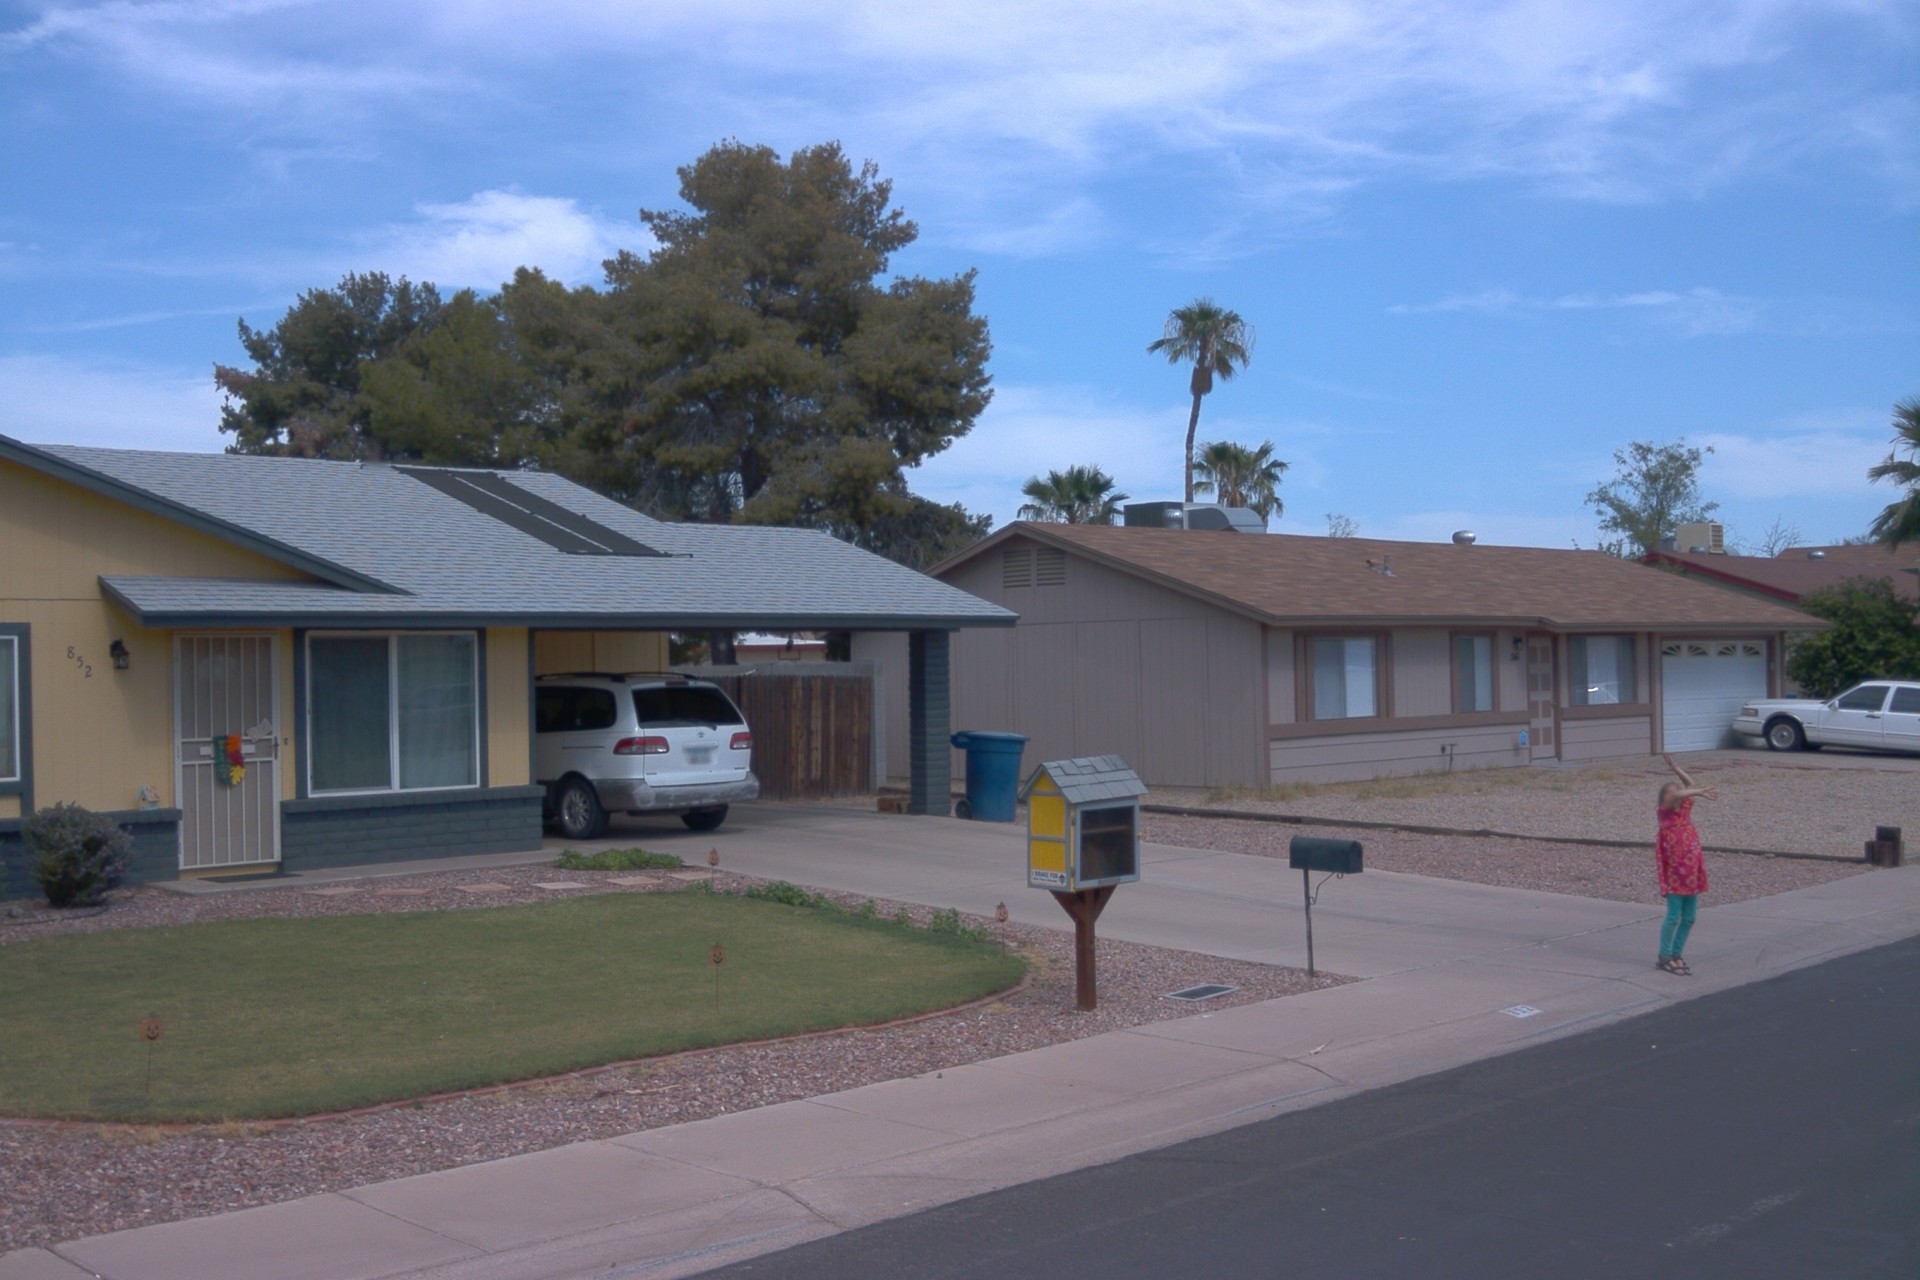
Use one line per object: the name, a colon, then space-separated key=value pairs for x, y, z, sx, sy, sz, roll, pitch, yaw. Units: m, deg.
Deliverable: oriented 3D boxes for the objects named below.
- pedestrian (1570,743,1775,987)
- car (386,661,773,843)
pedestrian: x=4.934 y=1.530 z=14.480 sx=1.022 sy=1.580 sz=0.956 roll=0 pitch=0 yaw=-9
car: x=-4.225 y=1.134 z=22.810 sx=4.247 sy=1.790 sz=1.856 roll=0 pitch=0 yaw=40
